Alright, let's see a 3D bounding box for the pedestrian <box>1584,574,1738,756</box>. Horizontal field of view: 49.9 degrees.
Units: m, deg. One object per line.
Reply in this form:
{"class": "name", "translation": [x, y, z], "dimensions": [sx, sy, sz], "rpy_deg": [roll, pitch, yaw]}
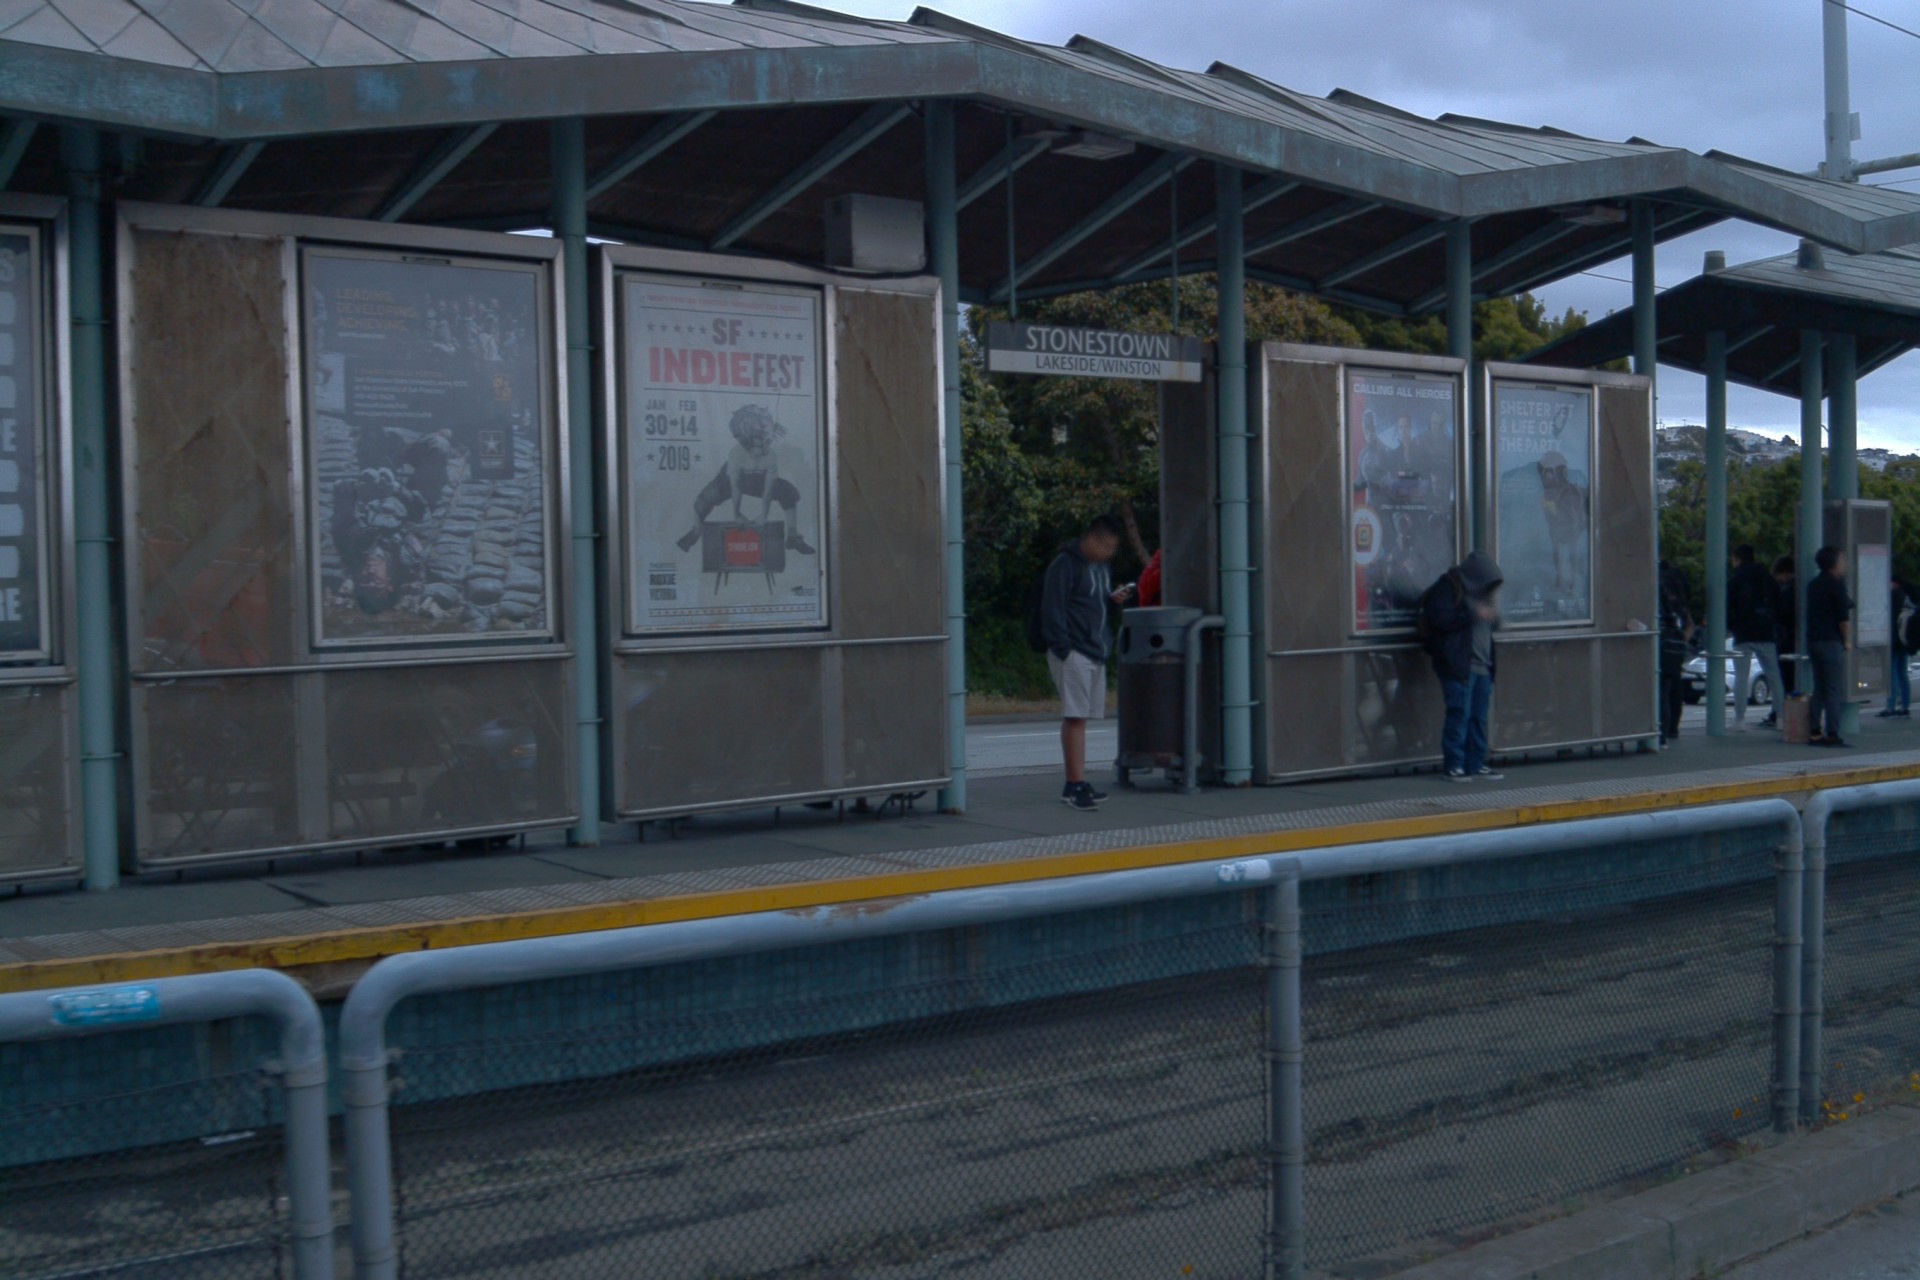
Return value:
{"class": "pedestrian", "translation": [5.703, 0.191, 16.819], "dimensions": [0.858, 1.430, 0.824], "rpy_deg": [-1, 1, -26]}

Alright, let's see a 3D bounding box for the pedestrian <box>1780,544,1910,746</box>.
{"class": "pedestrian", "translation": [7.321, 0.035, 17.073], "dimensions": [0.794, 1.620, 0.711], "rpy_deg": [-1, 1, -40]}

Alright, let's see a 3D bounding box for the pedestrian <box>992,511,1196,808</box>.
{"class": "pedestrian", "translation": [0.790, 0.102, 12.136], "dimensions": [0.932, 1.660, 0.753], "rpy_deg": [-1, 1, -40]}

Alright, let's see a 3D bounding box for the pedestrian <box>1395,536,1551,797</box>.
{"class": "pedestrian", "translation": [3.472, 0.164, 13.956], "dimensions": [0.889, 1.700, 0.613], "rpy_deg": [-1, 1, -39]}
